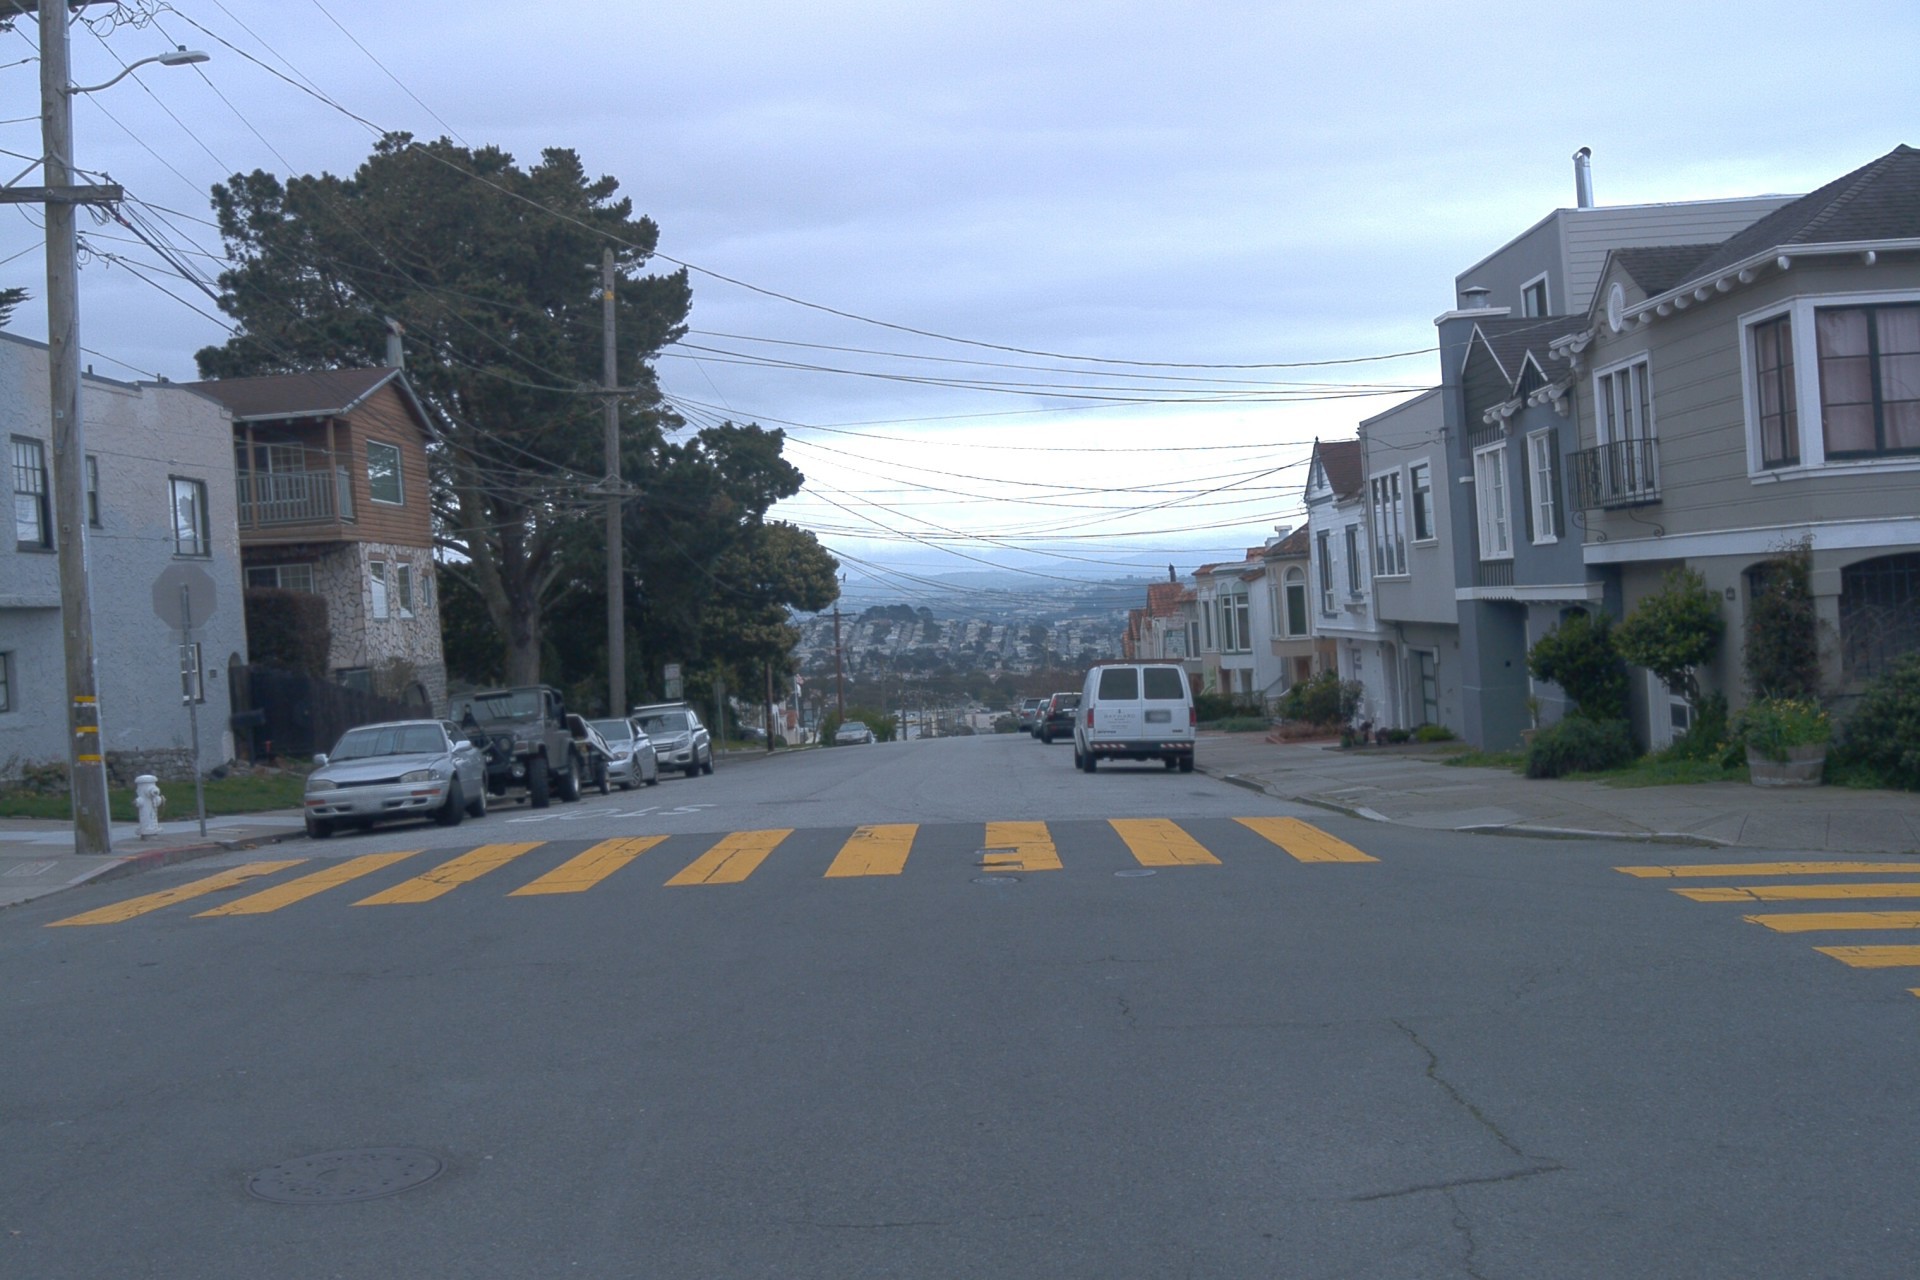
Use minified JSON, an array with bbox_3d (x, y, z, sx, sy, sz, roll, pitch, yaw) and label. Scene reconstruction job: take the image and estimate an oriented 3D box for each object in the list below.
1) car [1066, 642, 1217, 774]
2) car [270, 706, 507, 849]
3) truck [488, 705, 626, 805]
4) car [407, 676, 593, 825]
[{"bbox_3d":[3.143,1.137,36.703,2.330,2.195,4.904,0,0,1],"label":"car"},{"bbox_3d":[-7.175,1.670,26.398,2.100,1.500,4.826,0,0,-5],"label":"car"},{"bbox_3d":[-6.779,1.910,34.886,1.696,1.510,2.984,0,0,1],"label":"truck"},{"bbox_3d":[-6.858,1.596,31.127,1.997,2.030,4.192,0,0,-2],"label":"car"}]
